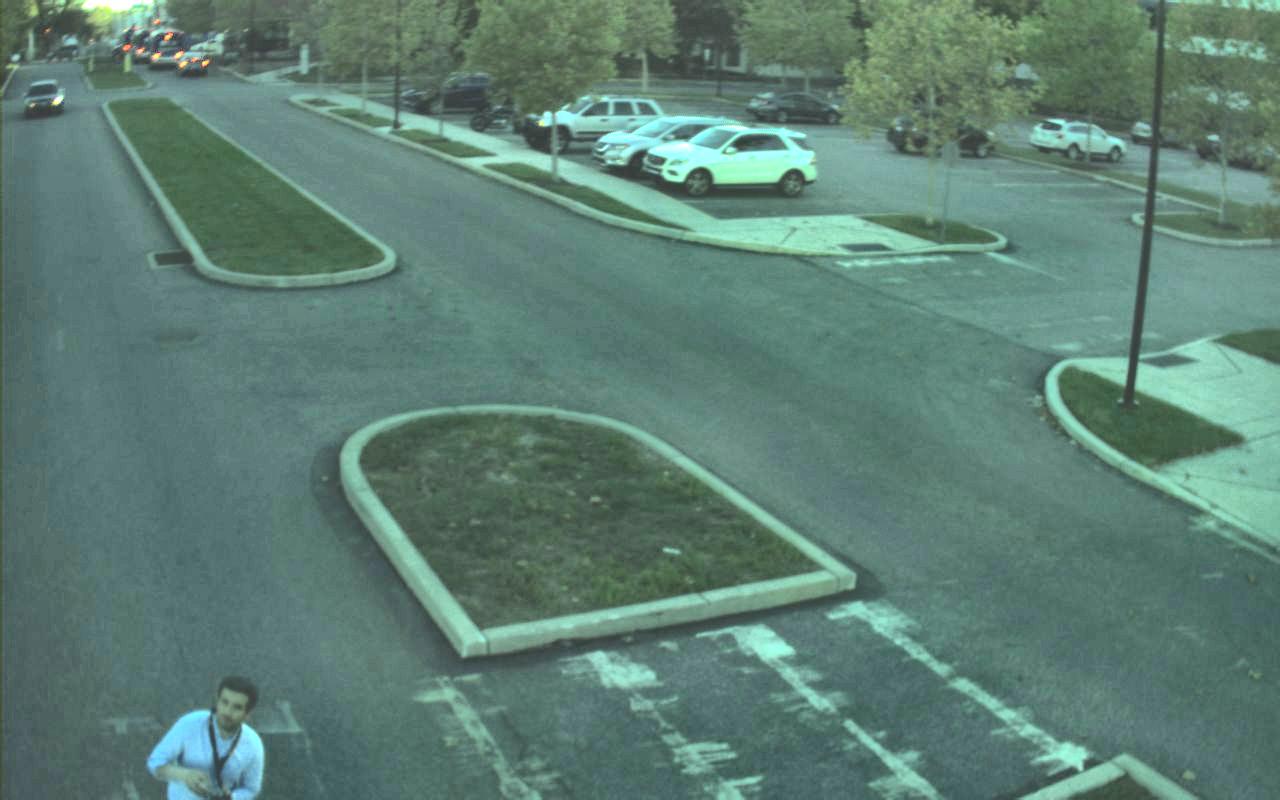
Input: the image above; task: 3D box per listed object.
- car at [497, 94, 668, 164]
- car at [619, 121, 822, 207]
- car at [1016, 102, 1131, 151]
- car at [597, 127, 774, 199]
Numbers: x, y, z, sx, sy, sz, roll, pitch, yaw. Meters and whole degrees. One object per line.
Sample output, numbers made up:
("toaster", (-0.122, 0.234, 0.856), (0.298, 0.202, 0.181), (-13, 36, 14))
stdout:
("car", (-1.801, -8.519, 38.931), (4.908, 1.833, 2.087), (-8, 17, -24))
("car", (2.144, -6.233, 32.633), (4.981, 1.819, 2.093), (-9, 18, -27))
("car", (18.128, -11.330, 49.398), (4.979, 1.848, 2.090), (-8, 17, -24))
("car", (1.269, -6.613, 34.691), (4.516, 1.607, 1.965), (-8, 17, -24))
